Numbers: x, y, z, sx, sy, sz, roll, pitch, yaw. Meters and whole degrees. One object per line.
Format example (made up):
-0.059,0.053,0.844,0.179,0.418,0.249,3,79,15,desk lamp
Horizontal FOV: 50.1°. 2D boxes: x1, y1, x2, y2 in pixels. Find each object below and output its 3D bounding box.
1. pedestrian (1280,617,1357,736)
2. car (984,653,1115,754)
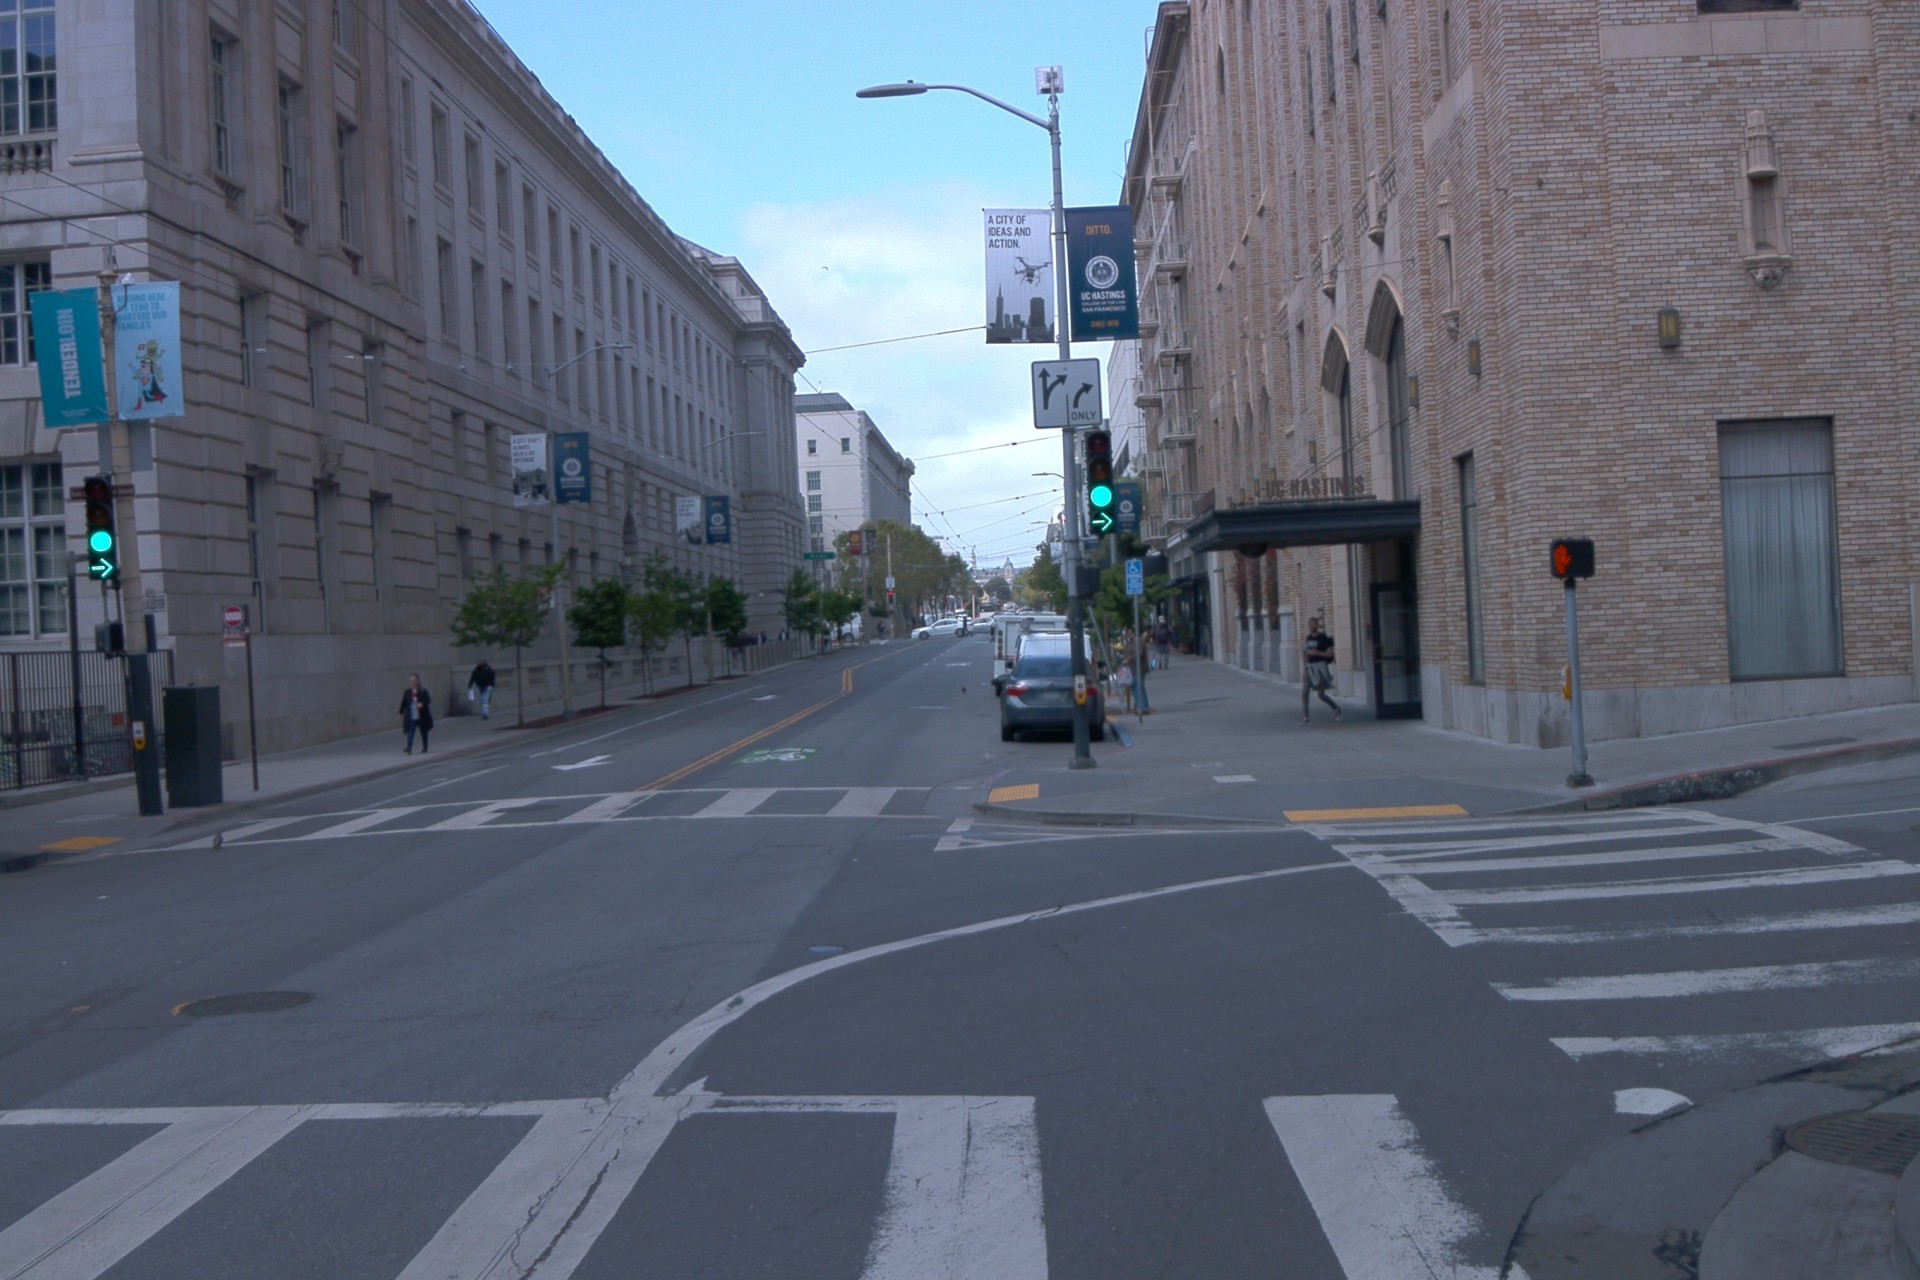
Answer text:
5.908,0.581,33.864,0.958,1.920,0.987,0,1,31,pedestrian
1.644,1.053,36.086,2.079,1.560,4.757,0,1,5,car
